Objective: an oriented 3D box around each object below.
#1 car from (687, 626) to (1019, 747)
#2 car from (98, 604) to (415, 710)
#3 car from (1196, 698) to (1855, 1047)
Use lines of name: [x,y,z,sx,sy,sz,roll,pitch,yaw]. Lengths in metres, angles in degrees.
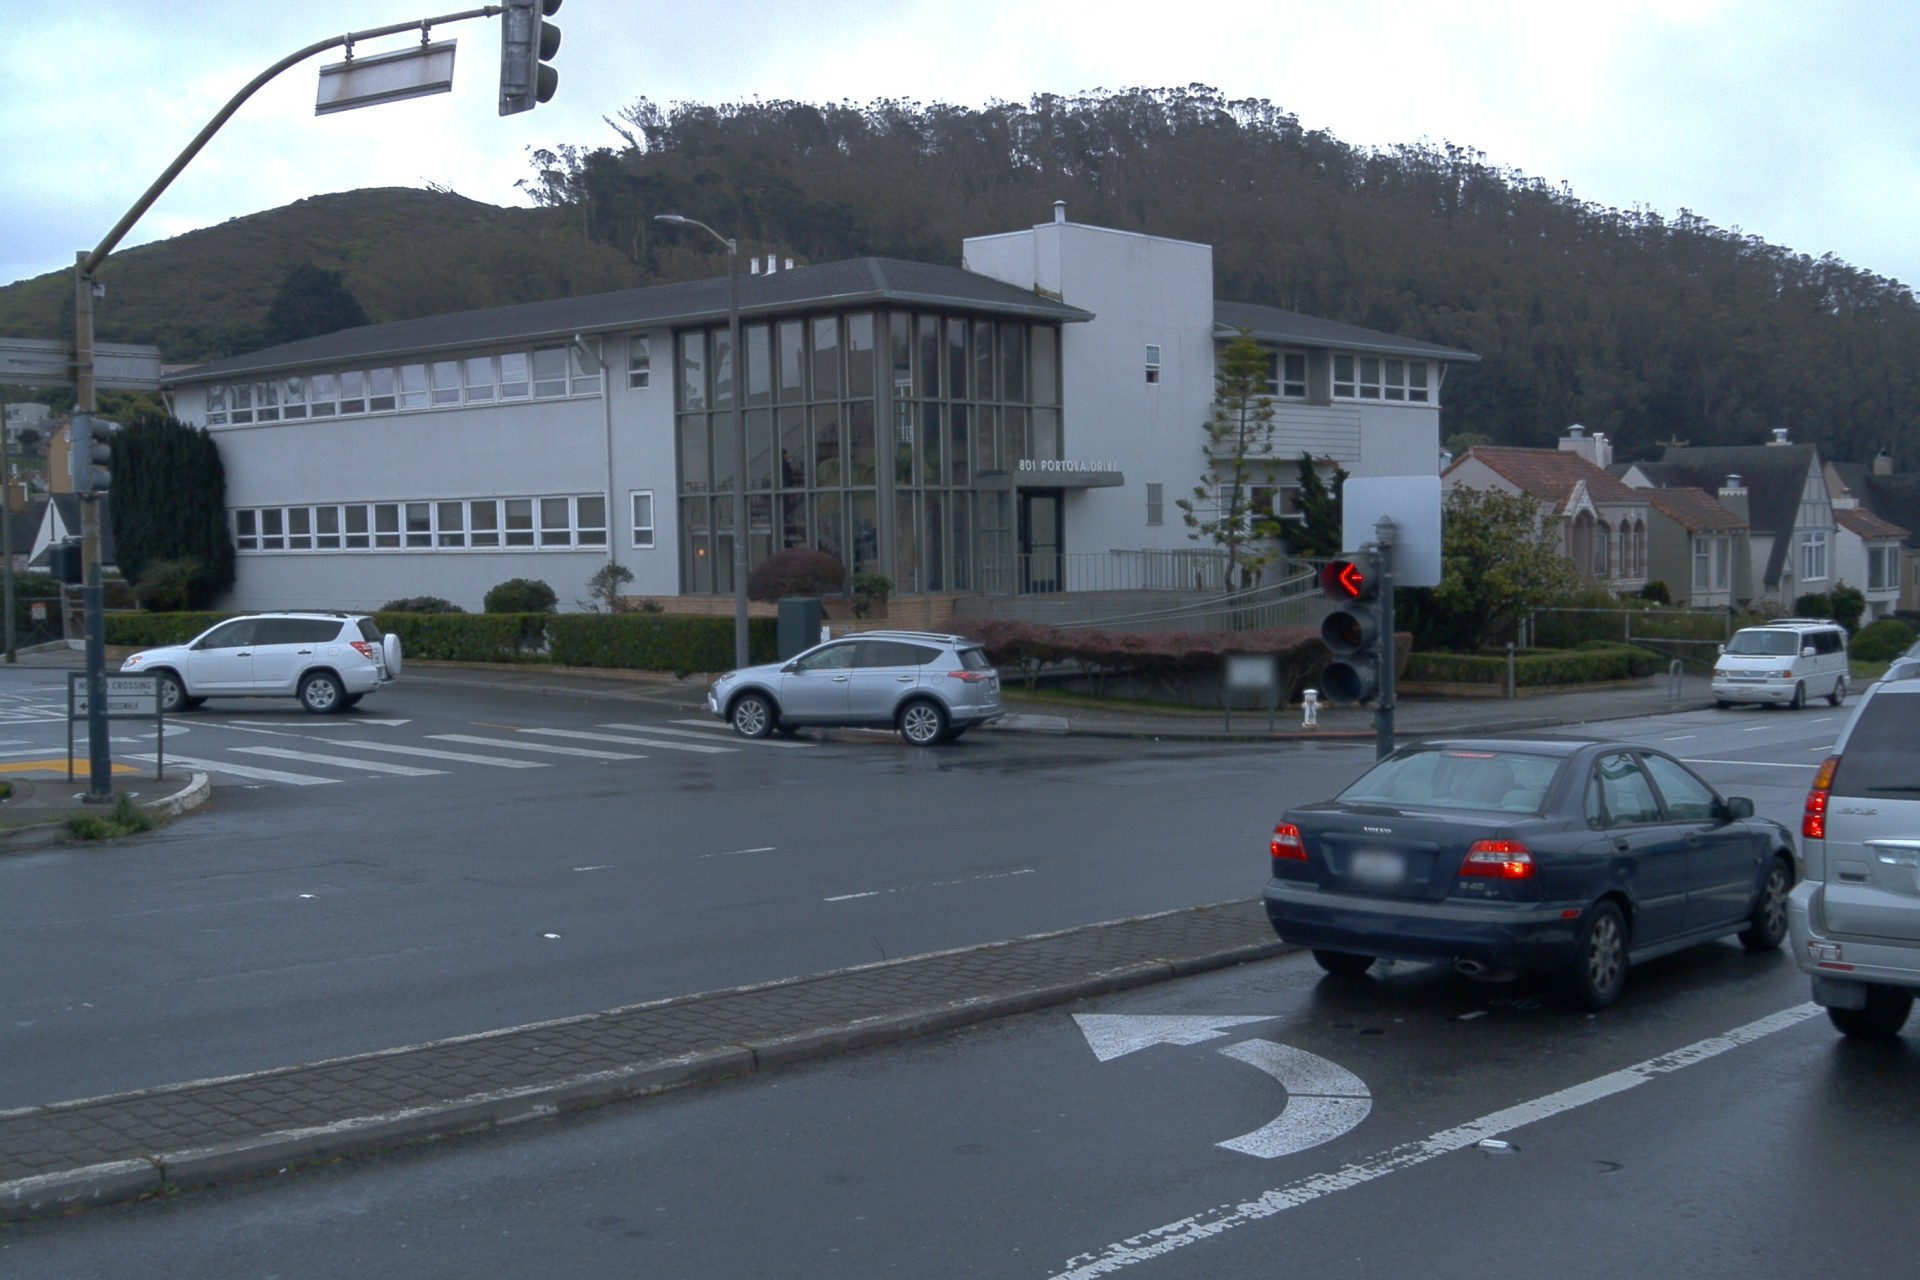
car: [-1.607,0.672,31.618,4.657,1.740,2.199,0,1,14]
car: [-11.907,0.271,34.975,4.740,1.740,2.052,0,1,-3]
car: [3.469,1.179,12.053,1.961,1.500,4.296,1,1,43]
